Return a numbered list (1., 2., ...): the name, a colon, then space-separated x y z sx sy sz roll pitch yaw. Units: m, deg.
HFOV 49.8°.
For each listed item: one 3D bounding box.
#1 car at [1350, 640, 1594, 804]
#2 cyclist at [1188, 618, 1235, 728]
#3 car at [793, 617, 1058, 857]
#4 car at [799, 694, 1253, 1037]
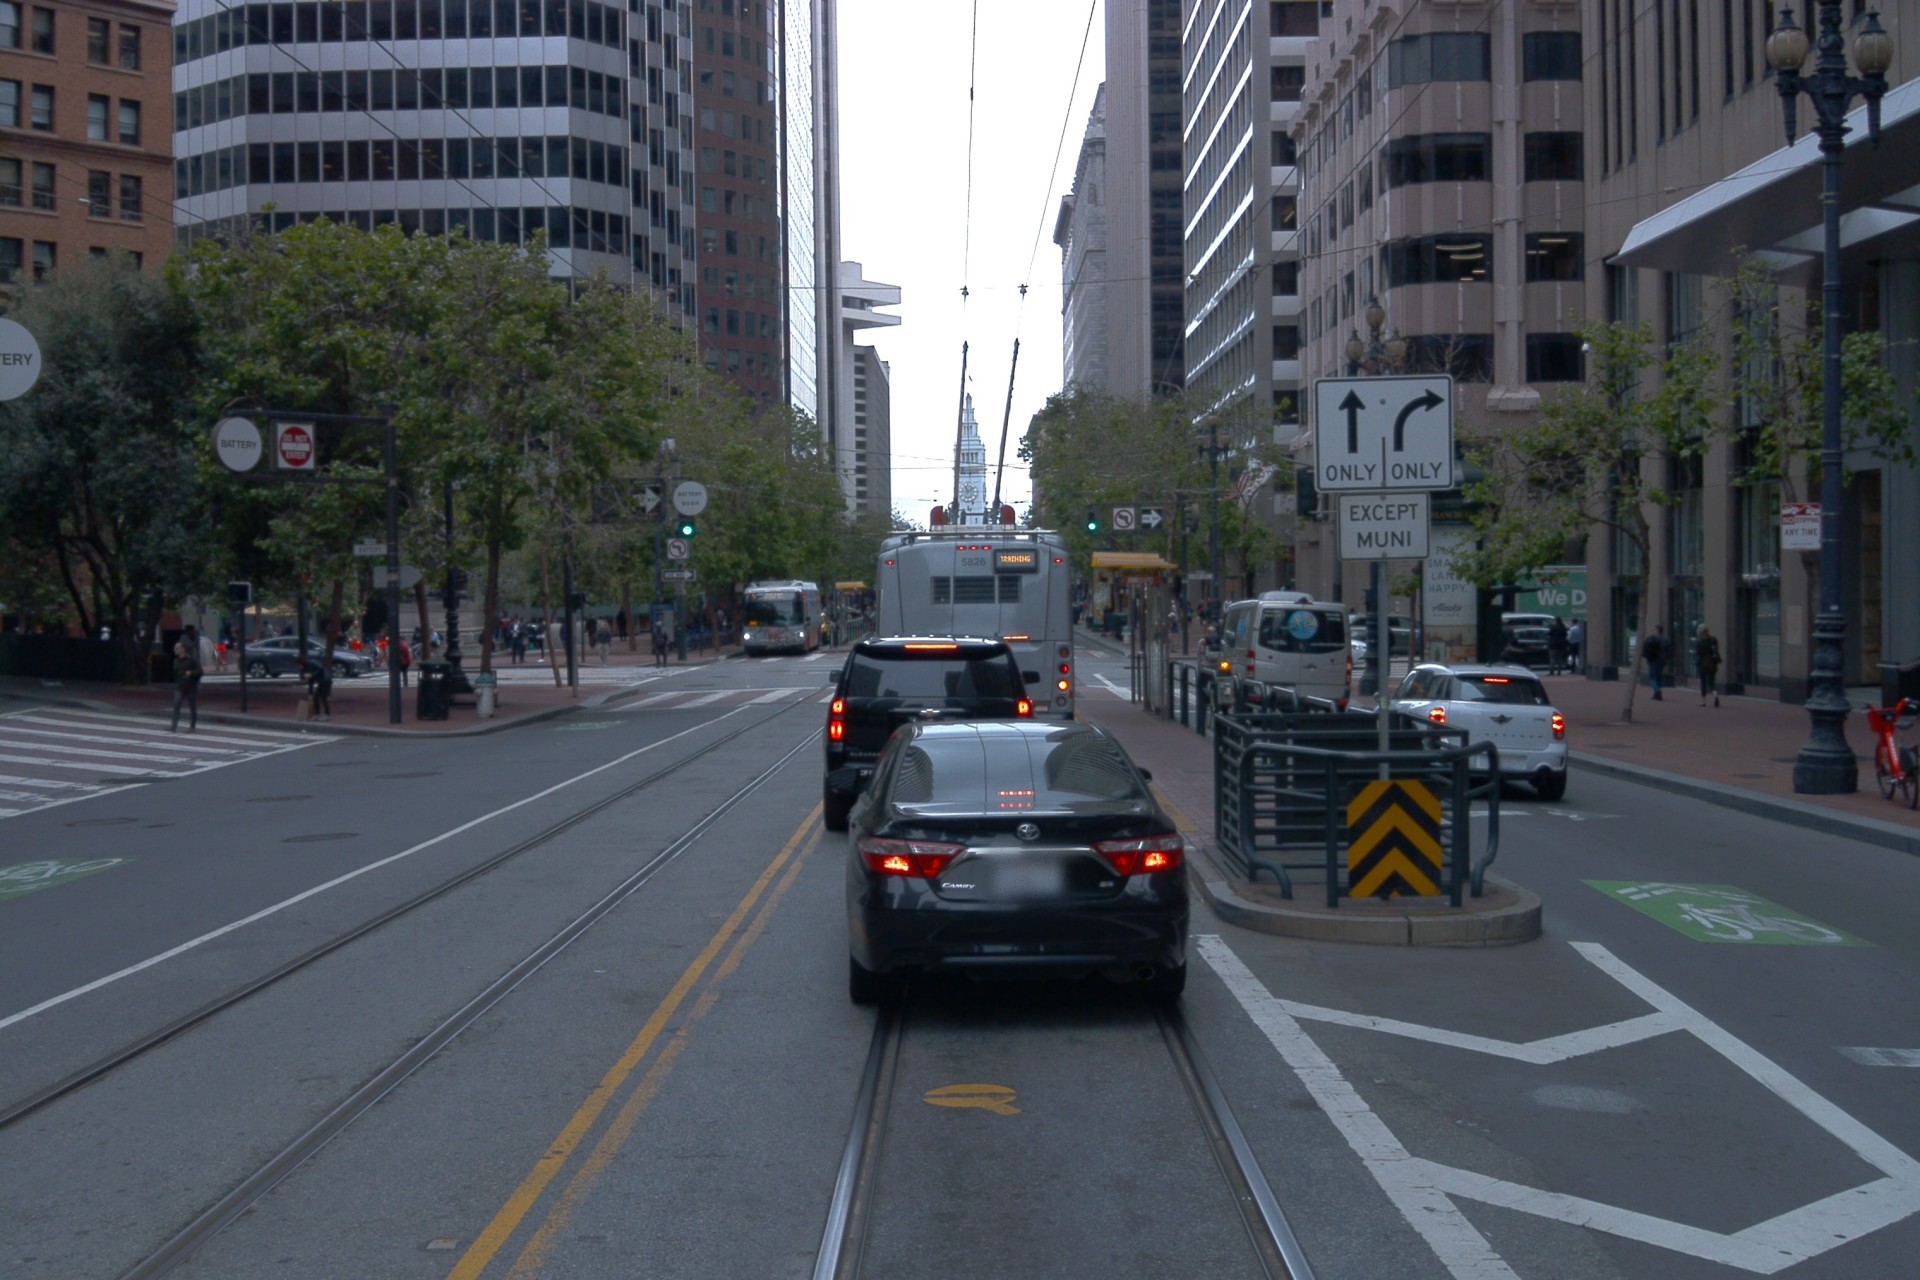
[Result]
1. car: 6.132 0.926 25.210 2.075 1.784 3.877 0 1 1
2. cyclist: 4.437 0.560 36.483 0.638 1.900 1.439 0 1 0
3. car: -0.277 0.824 20.887 2.308 2.100 5.442 0 1 1
4. car: 0.214 1.149 12.331 2.188 1.460 4.687 0 1 -3
